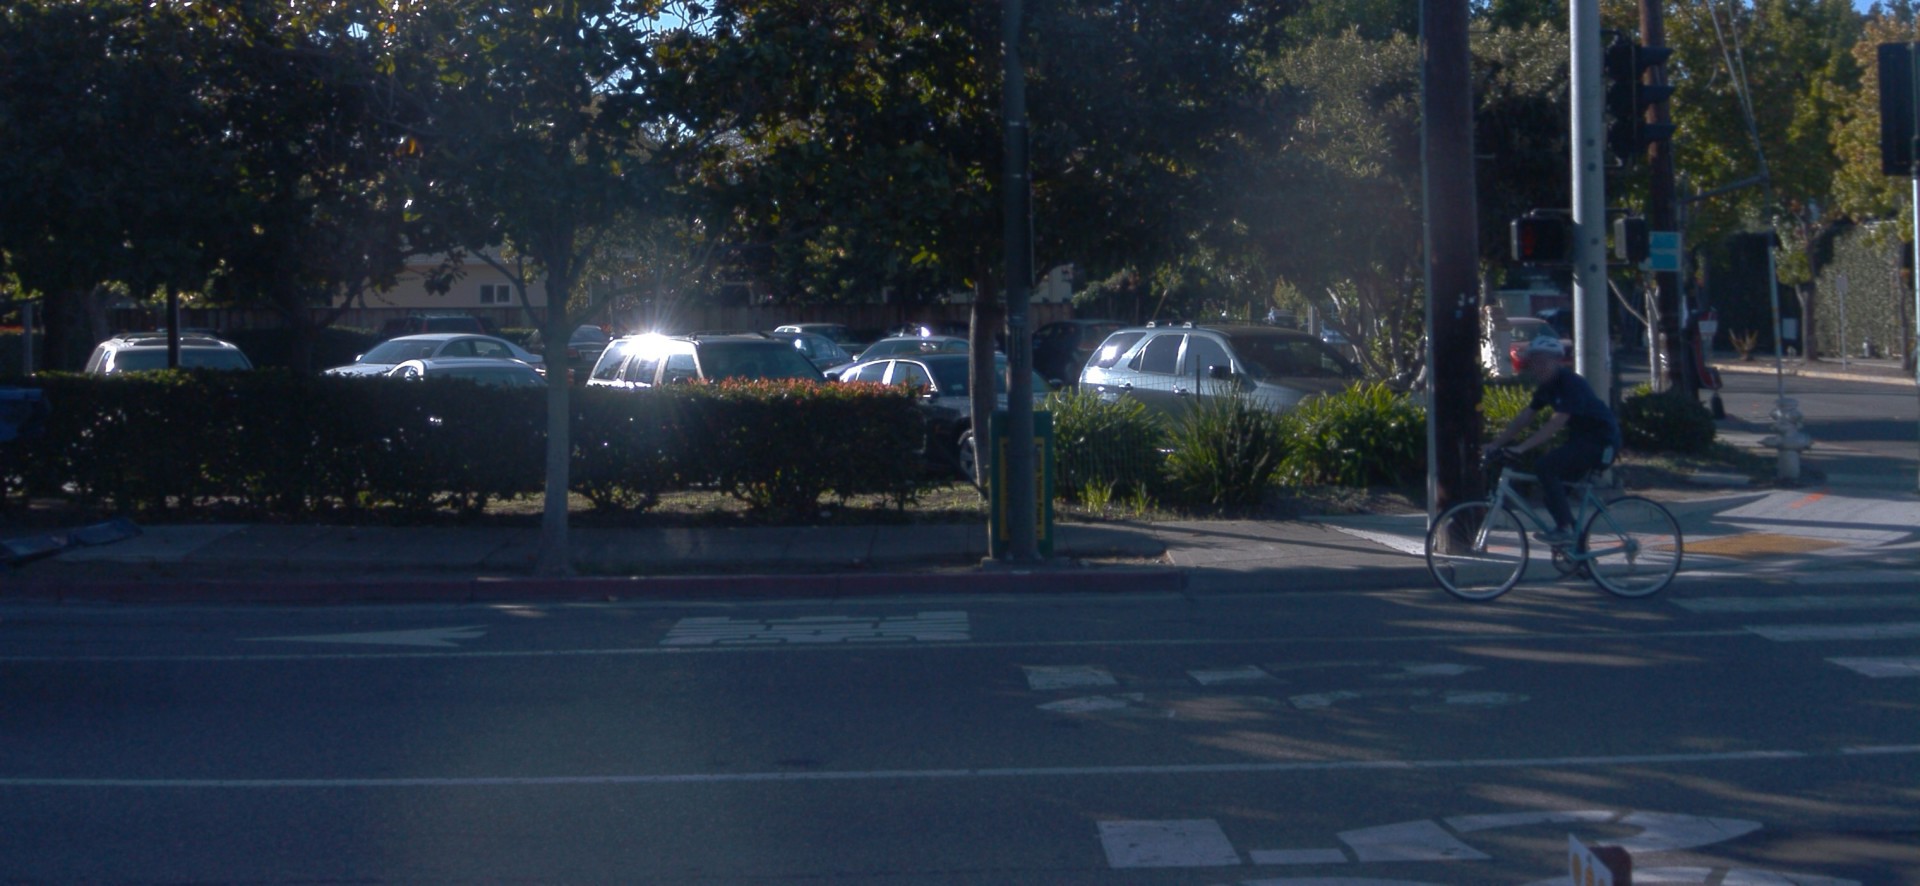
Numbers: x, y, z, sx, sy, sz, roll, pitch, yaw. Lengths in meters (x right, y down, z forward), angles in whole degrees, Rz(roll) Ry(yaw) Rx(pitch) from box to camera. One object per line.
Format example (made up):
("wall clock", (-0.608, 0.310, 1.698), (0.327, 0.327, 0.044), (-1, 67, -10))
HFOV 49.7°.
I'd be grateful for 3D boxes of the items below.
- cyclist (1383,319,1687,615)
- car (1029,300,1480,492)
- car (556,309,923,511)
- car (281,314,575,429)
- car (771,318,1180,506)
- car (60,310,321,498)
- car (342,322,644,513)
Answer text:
("cyclist", (3.780, 0.128, 13.707), (1.798, 1.859, 0.700), (0, 1, -3))
("car", (3.195, -0.657, 23.570), (2.134, 1.744, 5.090), (-3, 6, -36))
("car", (-2.649, -0.504, 23.631), (2.041, 1.823, 5.101), (-2, 6, -33))
("car", (-9.024, -1.301, 35.692), (2.136, 1.583, 5.180), (2, 6, 25))
("car", (0.016, -0.488, 23.995), (2.173, 1.663, 5.375), (-3, 6, -32))
("car", (-8.735, -0.551, 23.268), (2.141, 1.663, 4.632), (-2, 6, -28))
("car", (-5.268, -0.395, 22.889), (2.169, 1.643, 4.587), (-2, 6, -27))
